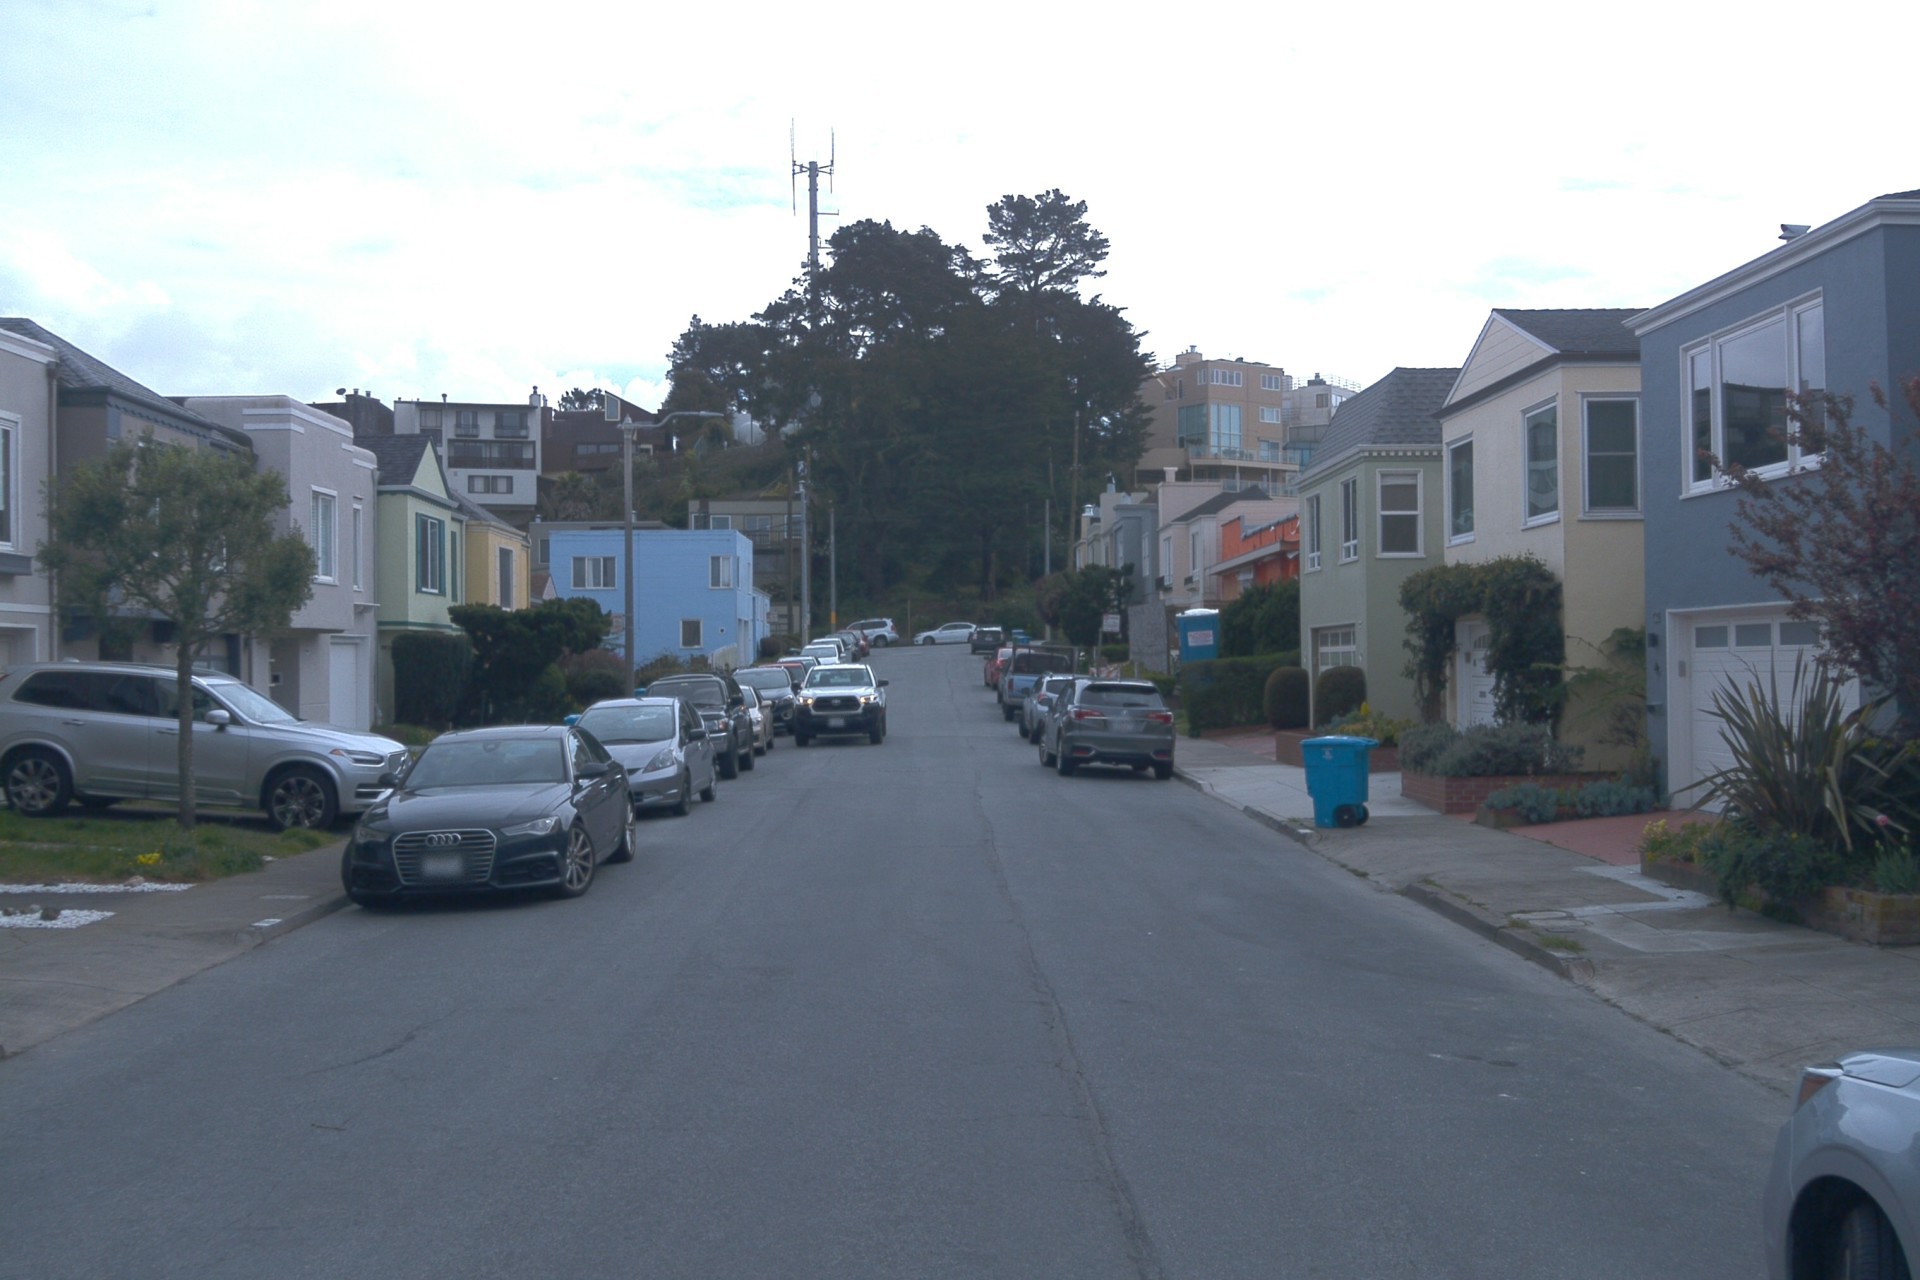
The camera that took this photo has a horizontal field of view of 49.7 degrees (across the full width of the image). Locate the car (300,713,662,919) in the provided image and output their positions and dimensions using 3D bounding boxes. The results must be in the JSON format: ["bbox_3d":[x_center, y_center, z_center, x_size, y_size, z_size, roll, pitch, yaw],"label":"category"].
[{"bbox_3d":[-4.181,1.495,19.008,2.204,1.490,4.921,0,0,0],"label":"car"}]

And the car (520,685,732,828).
[{"bbox_3d":[-4.301,1.466,27.360,2.058,1.660,4.209,0,0,1],"label":"car"}]

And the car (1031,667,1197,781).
[{"bbox_3d":[2.519,1.365,35.086,2.218,1.770,4.507,0,0,-4],"label":"car"}]

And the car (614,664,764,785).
[{"bbox_3d":[-4.522,1.365,35.199,2.004,1.880,4.677,0,0,-1],"label":"car"}]
